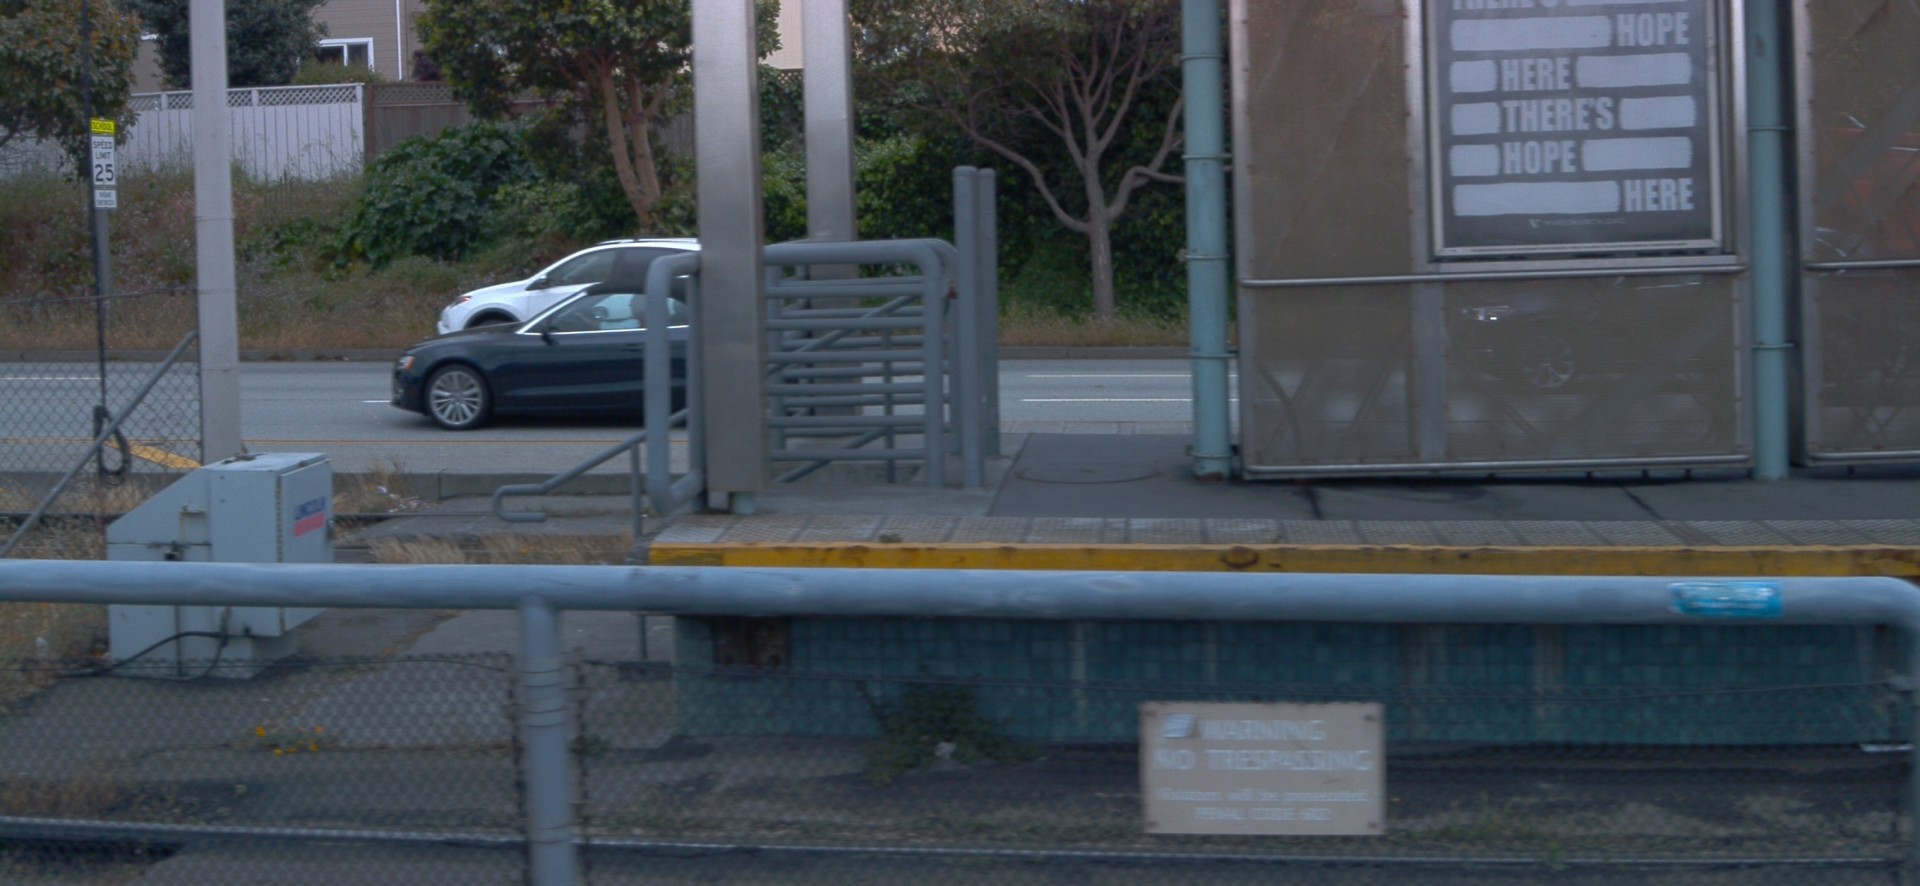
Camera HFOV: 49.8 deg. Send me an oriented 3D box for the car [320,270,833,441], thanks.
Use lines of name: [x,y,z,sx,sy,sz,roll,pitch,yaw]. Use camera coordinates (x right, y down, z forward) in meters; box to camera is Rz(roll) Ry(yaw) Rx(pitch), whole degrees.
car: [-3.603,-0.873,19.869,4.523,1.495,1.787,0,4,6]

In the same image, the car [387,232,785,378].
car: [-4.717,-1.800,26.489,4.613,1.744,2.082,0,4,6]
